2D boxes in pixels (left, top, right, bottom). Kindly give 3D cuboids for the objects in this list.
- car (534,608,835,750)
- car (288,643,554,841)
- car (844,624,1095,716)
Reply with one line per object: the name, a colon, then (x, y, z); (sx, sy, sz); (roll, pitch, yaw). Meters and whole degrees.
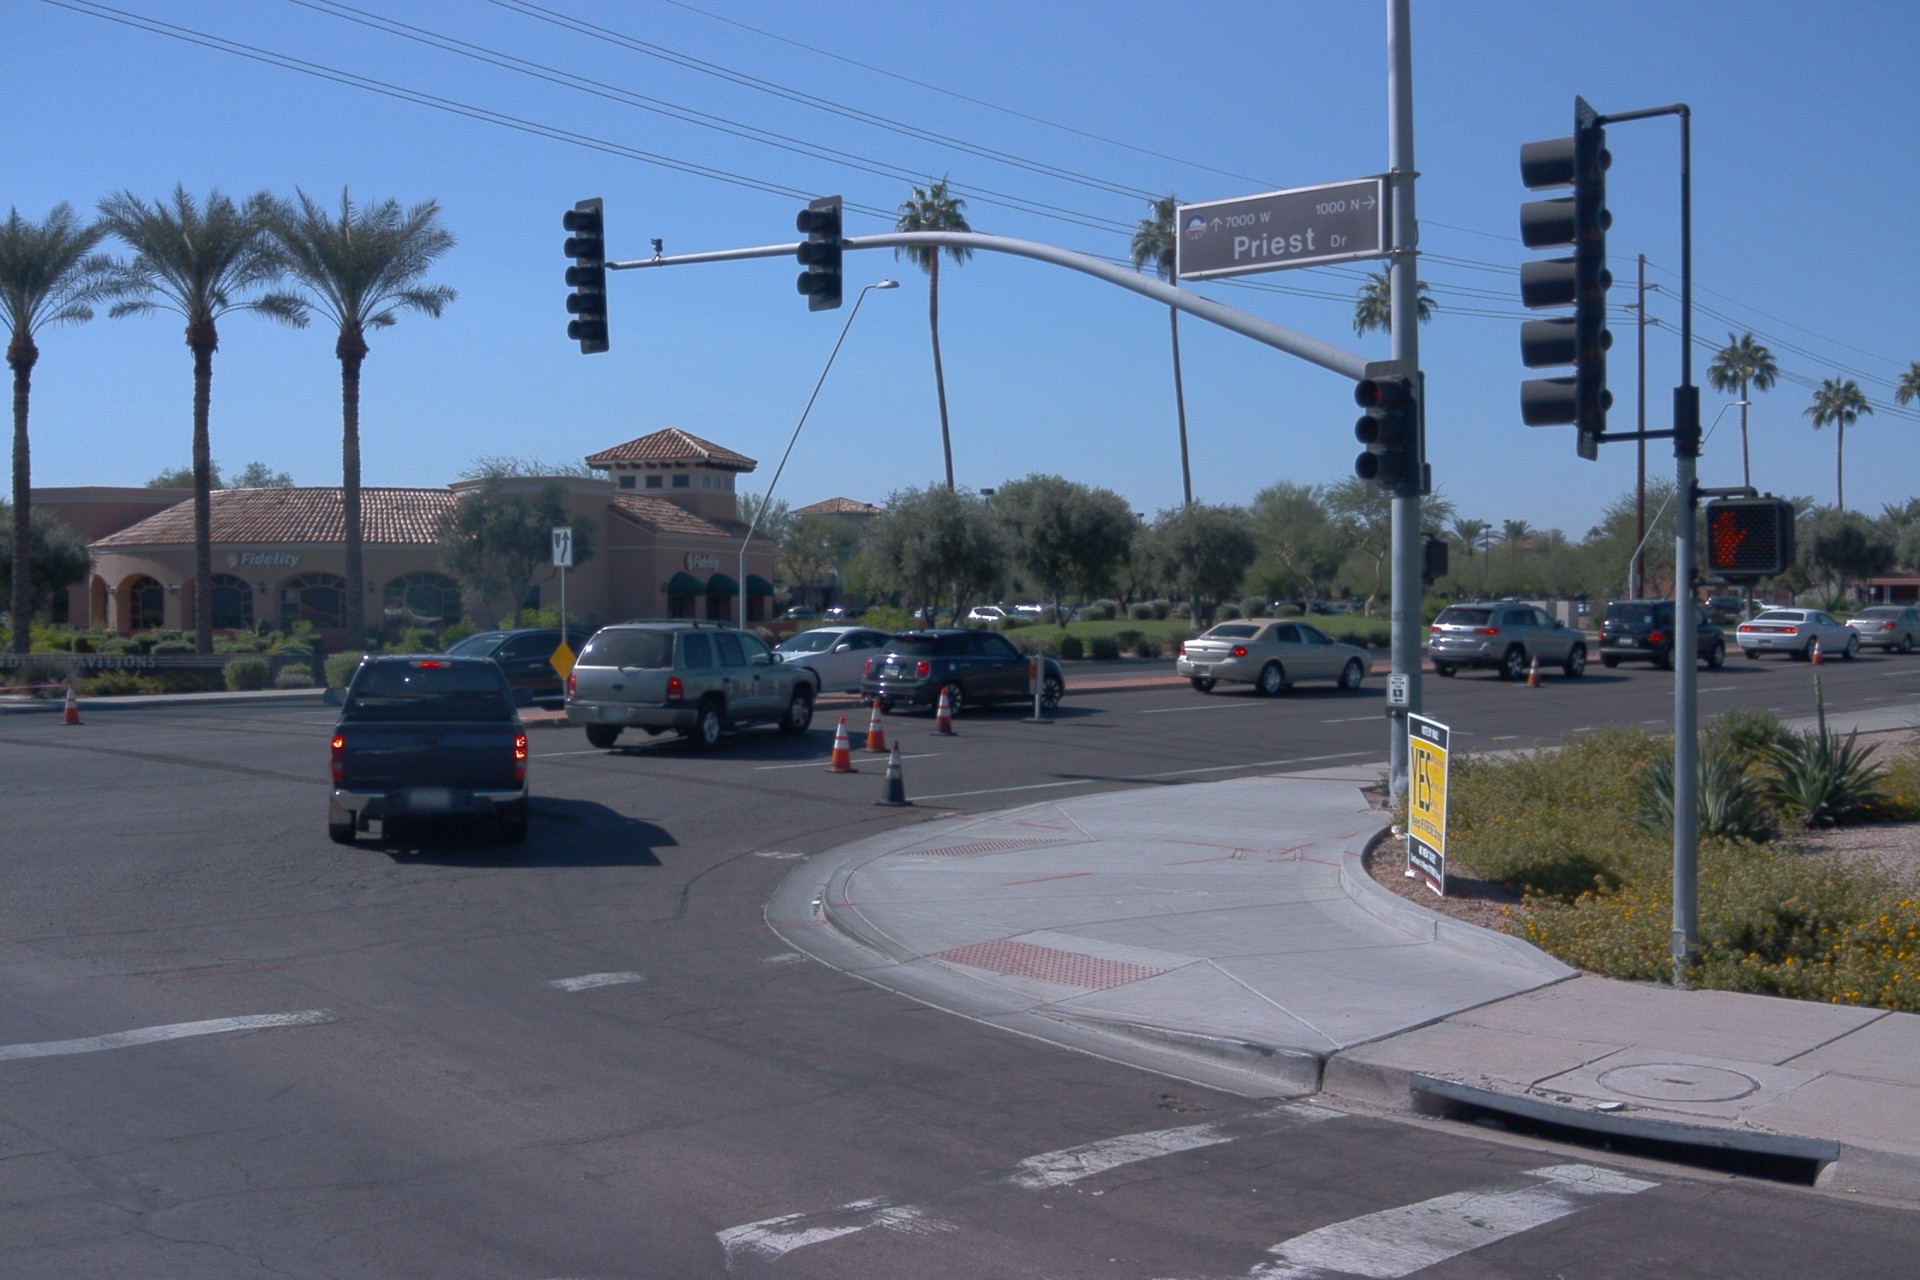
car: (-3.810, 0.522, 29.729); (2.175, 1.830, 4.919); (1, 0, 21)
car: (-5.091, 0.867, 19.885); (2.147, 1.630, 4.954); (1, 0, -13)
car: (0.219, 0.513, 35.839); (1.931, 1.480, 4.287); (1, 0, 42)
